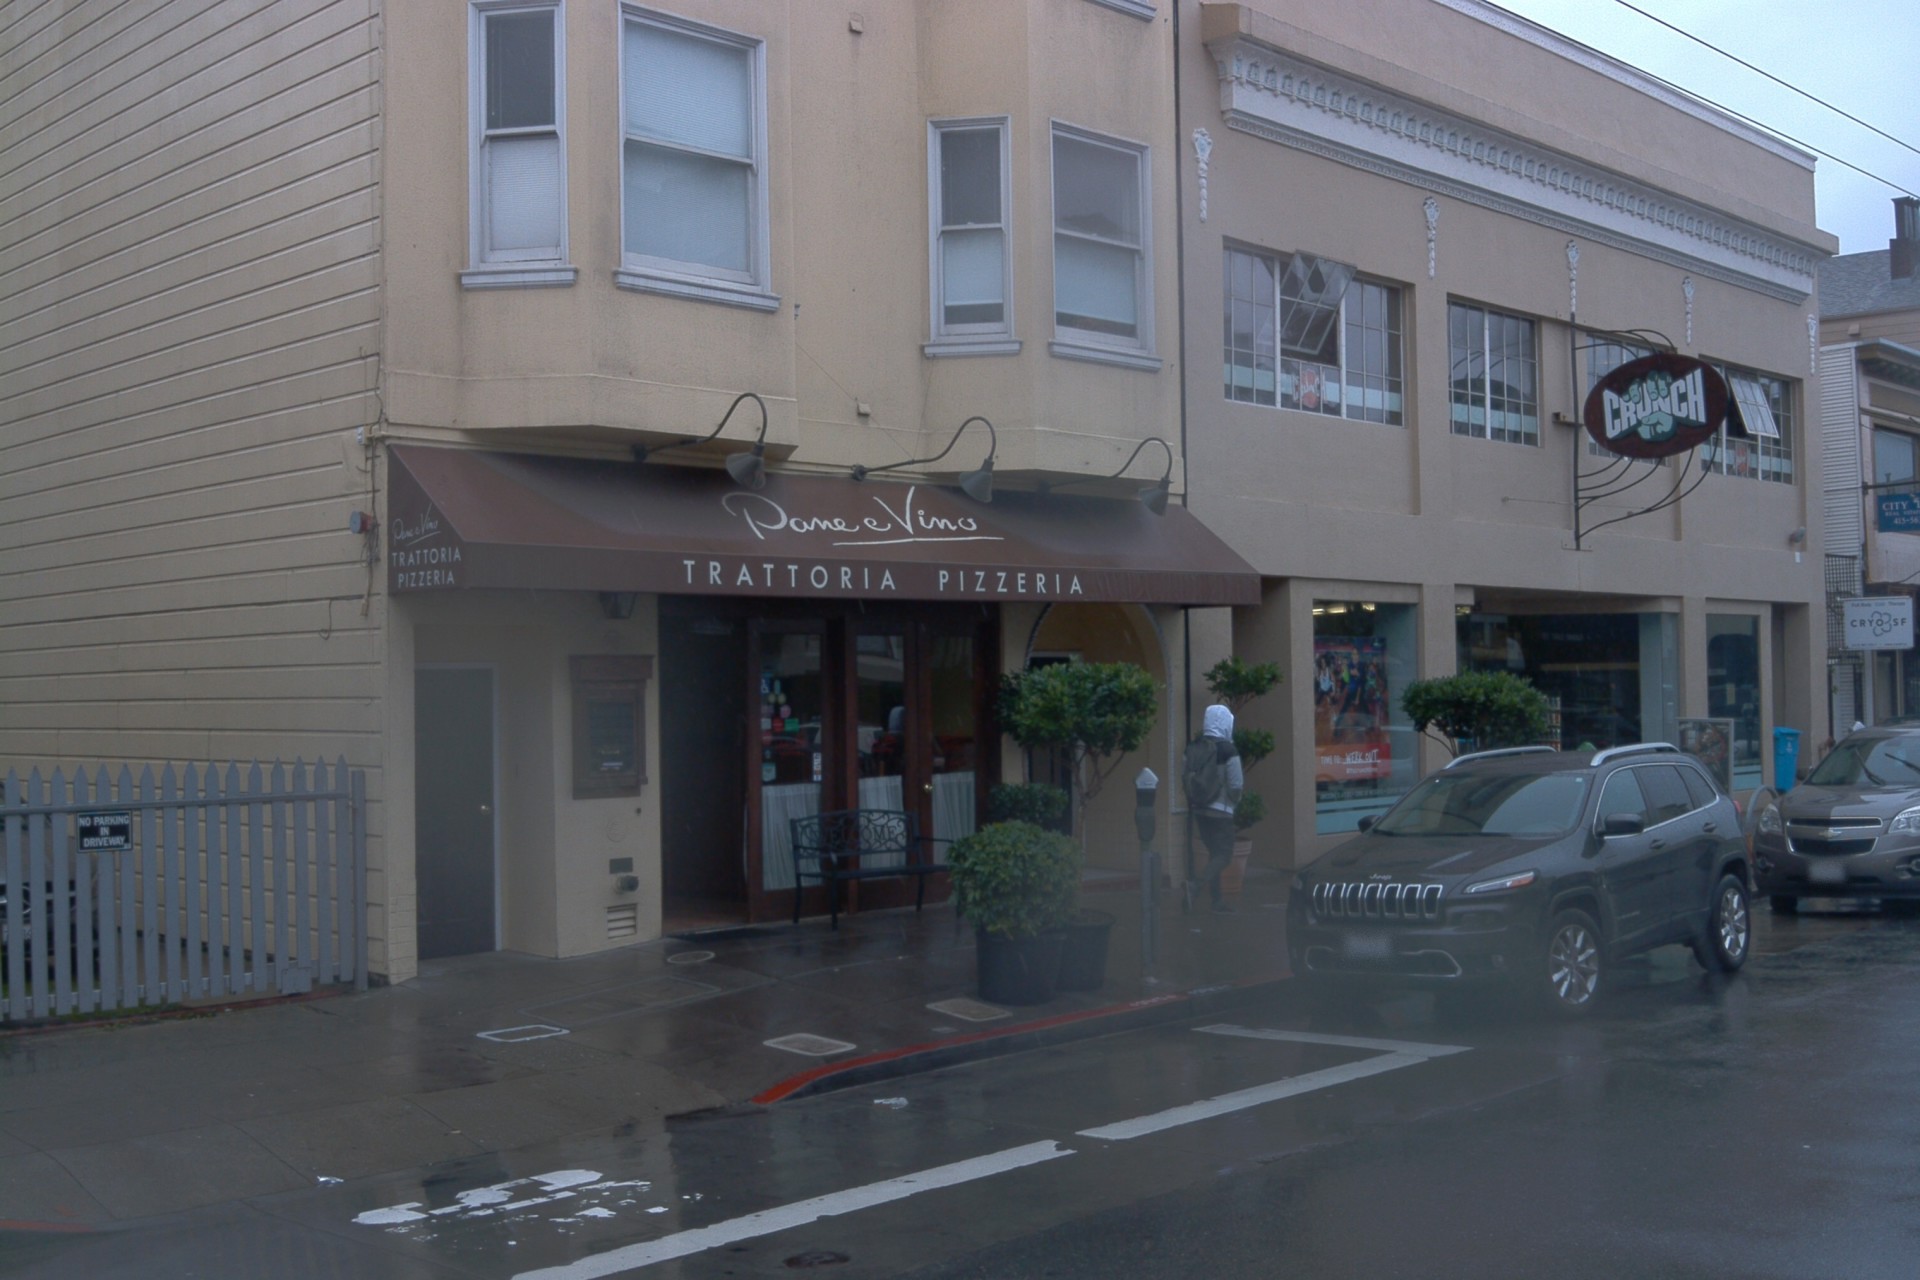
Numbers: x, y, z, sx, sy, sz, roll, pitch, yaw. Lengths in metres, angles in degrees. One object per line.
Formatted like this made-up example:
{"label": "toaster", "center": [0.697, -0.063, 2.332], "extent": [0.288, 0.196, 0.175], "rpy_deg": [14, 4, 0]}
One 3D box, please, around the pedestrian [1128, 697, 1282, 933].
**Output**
{"label": "pedestrian", "center": [1.991, 1.384, 16.765], "extent": [0.729, 1.800, 1.056], "rpy_deg": [2, 1, 43]}

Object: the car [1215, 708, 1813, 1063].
{"label": "car", "center": [4.028, 1.495, 14.413], "extent": [2.113, 1.830, 4.891], "rpy_deg": [2, 1, 40]}
